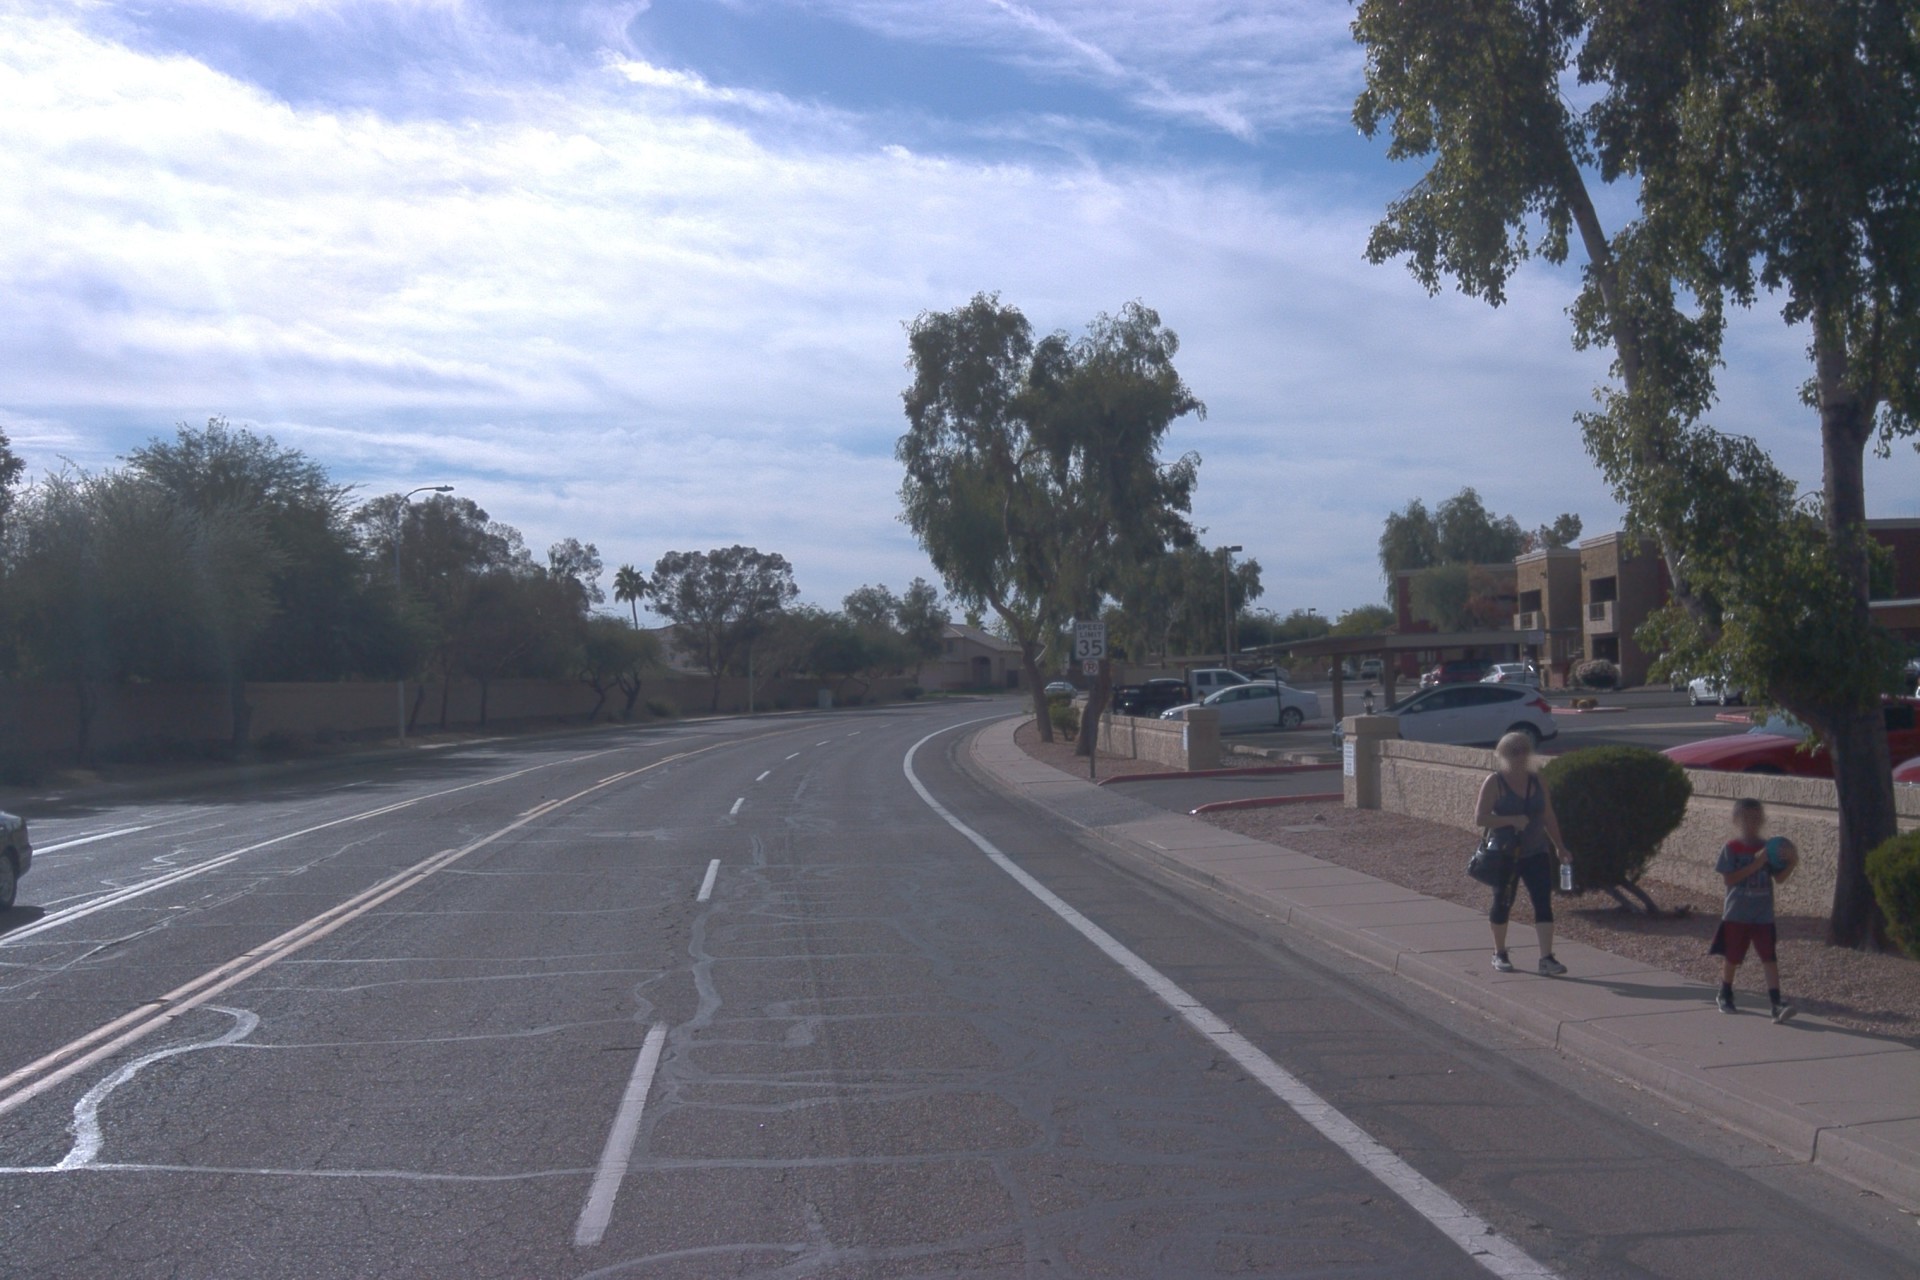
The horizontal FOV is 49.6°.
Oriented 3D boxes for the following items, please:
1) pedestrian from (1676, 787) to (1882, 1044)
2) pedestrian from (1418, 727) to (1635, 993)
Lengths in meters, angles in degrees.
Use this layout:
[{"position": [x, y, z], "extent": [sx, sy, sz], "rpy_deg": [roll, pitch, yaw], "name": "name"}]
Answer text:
[{"position": [4.536, 1.505, 11.561], "extent": [0.801, 1.330, 0.777], "rpy_deg": [0, -1, -5], "name": "pedestrian"}, {"position": [3.741, 1.418, 13.818], "extent": [1.022, 1.660, 1.111], "rpy_deg": [0, -1, -9], "name": "pedestrian"}]
